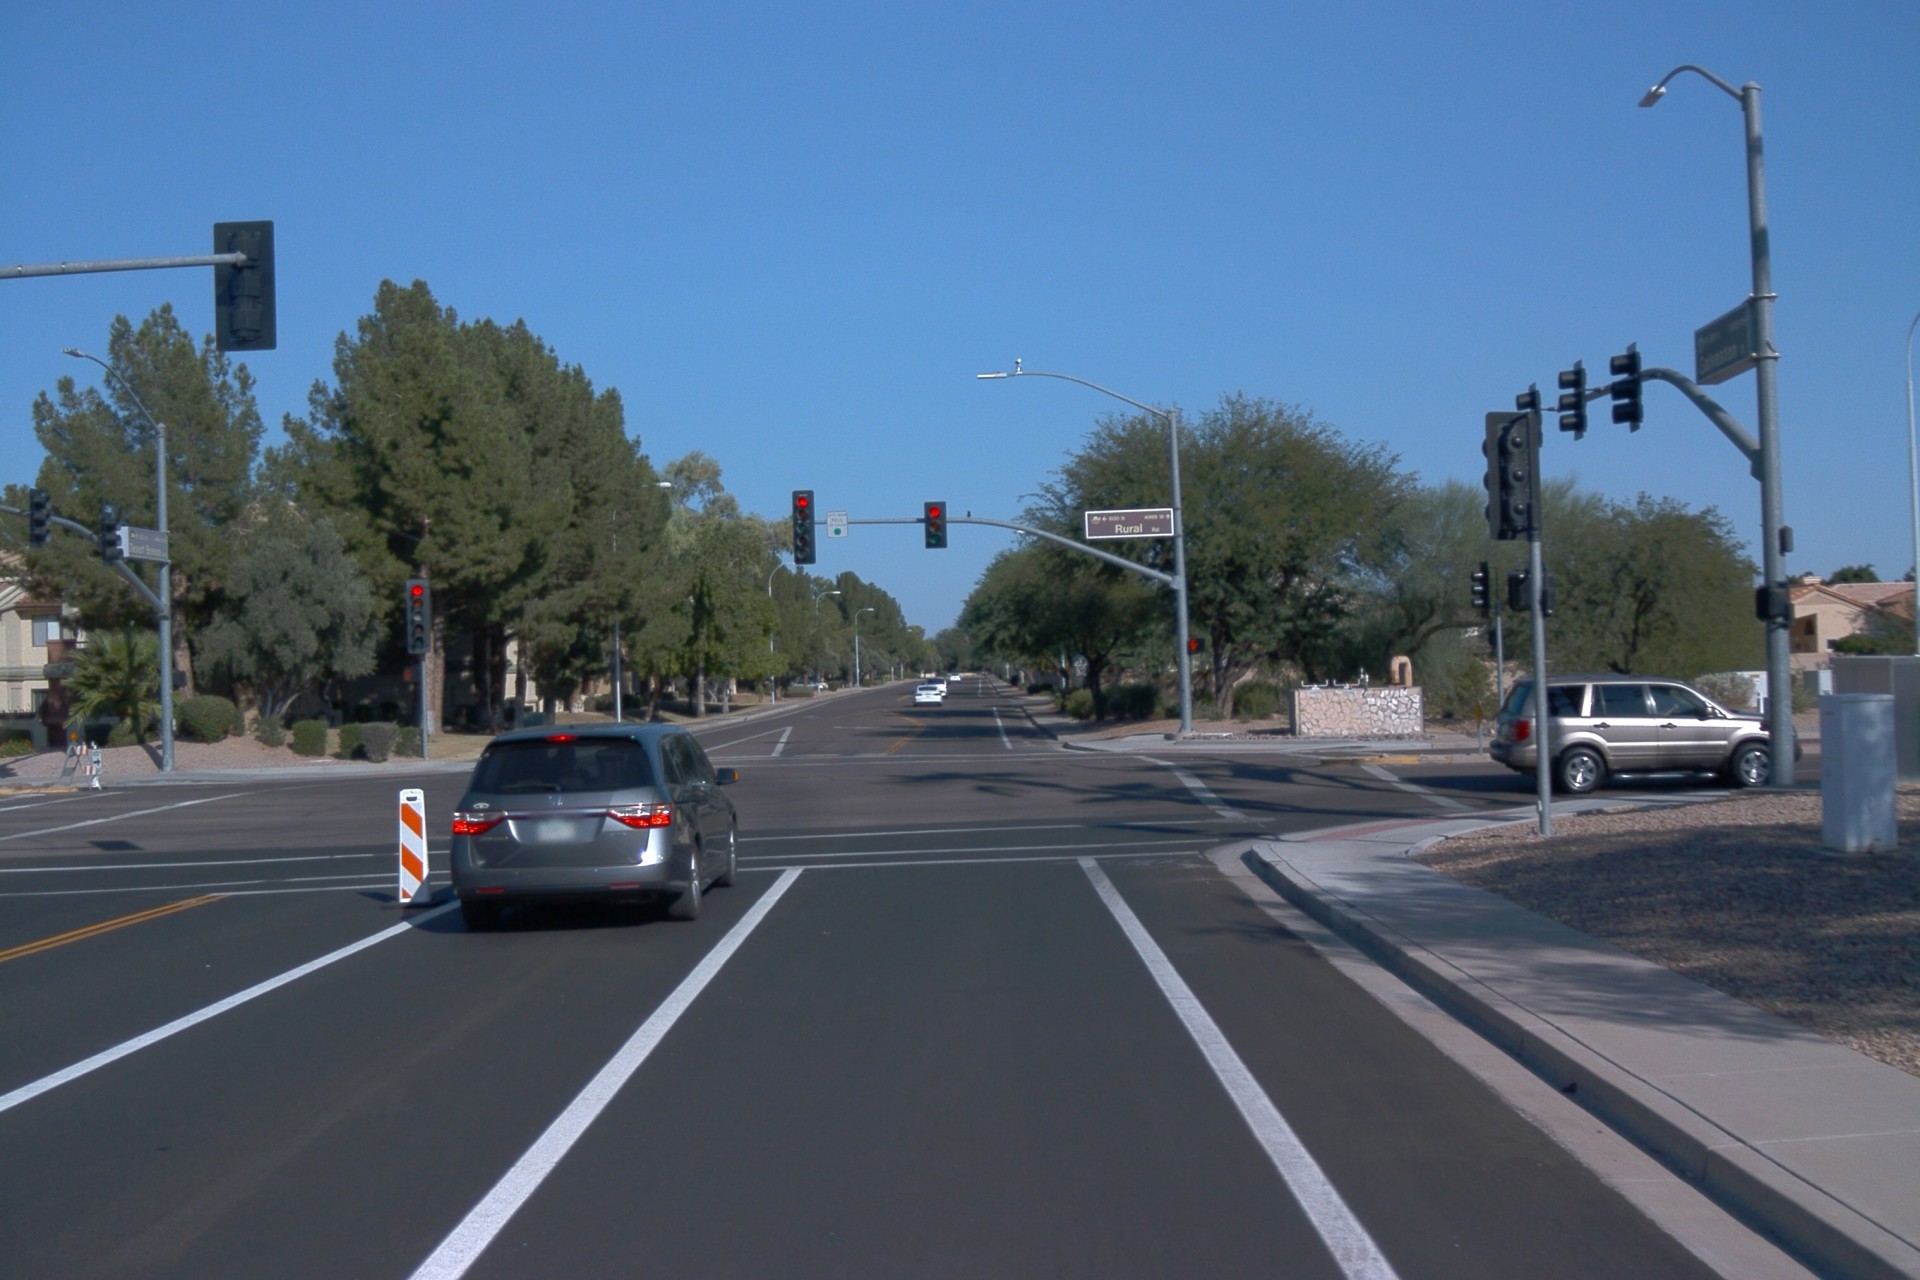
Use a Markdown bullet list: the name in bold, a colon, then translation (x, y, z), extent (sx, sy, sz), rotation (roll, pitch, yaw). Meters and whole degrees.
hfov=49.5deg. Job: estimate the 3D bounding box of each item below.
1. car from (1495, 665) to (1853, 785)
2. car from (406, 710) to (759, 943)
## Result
- **car**: translation (10.947, 1.296, 32.178), extent (4.868, 1.790, 1.989), rotation (0, -1, 2)
- **car**: translation (-3.287, 1.586, 19.280), extent (2.362, 1.810, 4.950), rotation (0, -1, 0)
